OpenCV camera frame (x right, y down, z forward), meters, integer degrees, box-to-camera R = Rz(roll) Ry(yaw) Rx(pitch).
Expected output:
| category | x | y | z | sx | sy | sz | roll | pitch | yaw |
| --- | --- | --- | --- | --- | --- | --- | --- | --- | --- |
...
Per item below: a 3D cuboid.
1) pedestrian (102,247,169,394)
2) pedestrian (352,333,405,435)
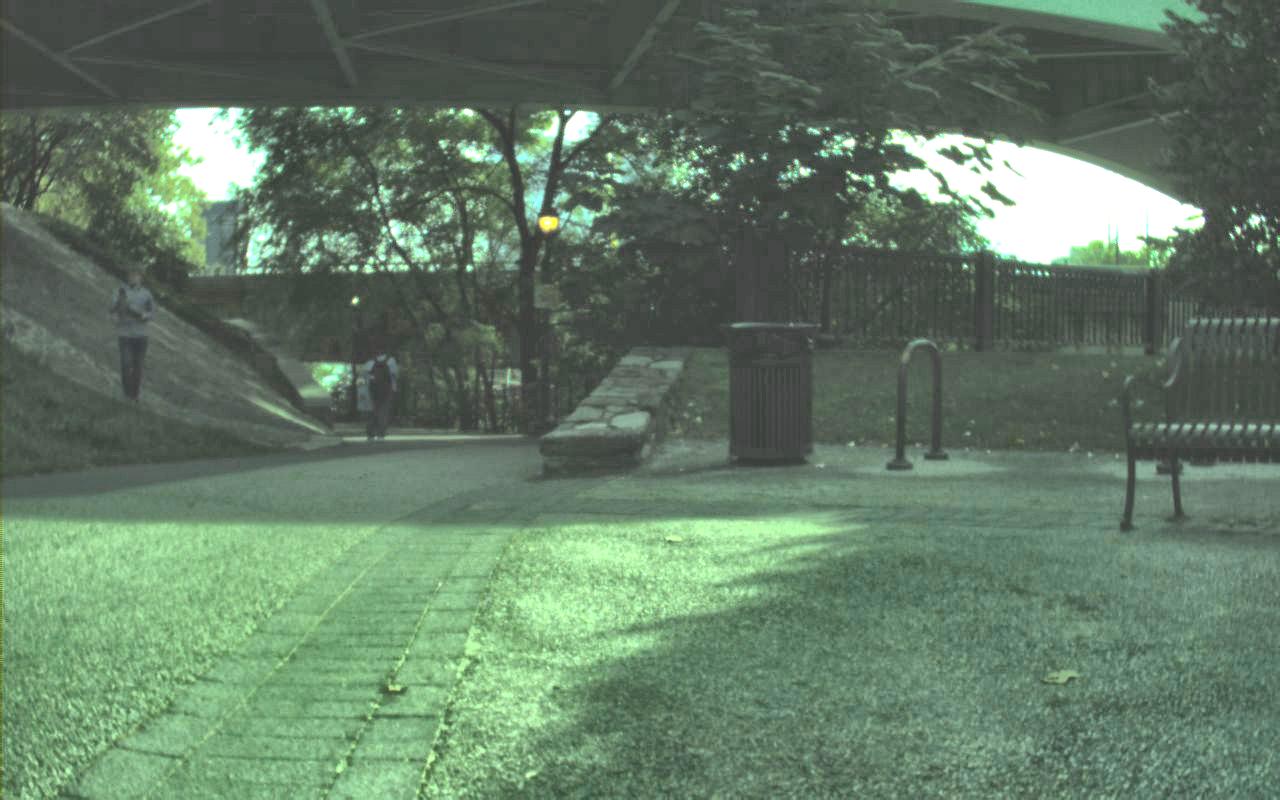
| category | x | y | z | sx | sy | sz | roll | pitch | yaw |
| --- | --- | --- | --- | --- | --- | --- | --- | --- | --- |
| pedestrian | -6.487 | -0.969 | 14.995 | 0.720 | 1.839 | 0.688 | 0 | 0 | -40 |
| pedestrian | -4.347 | -0.258 | 20.619 | 0.863 | 1.649 | 0.889 | 0 | 0 | -10 |
